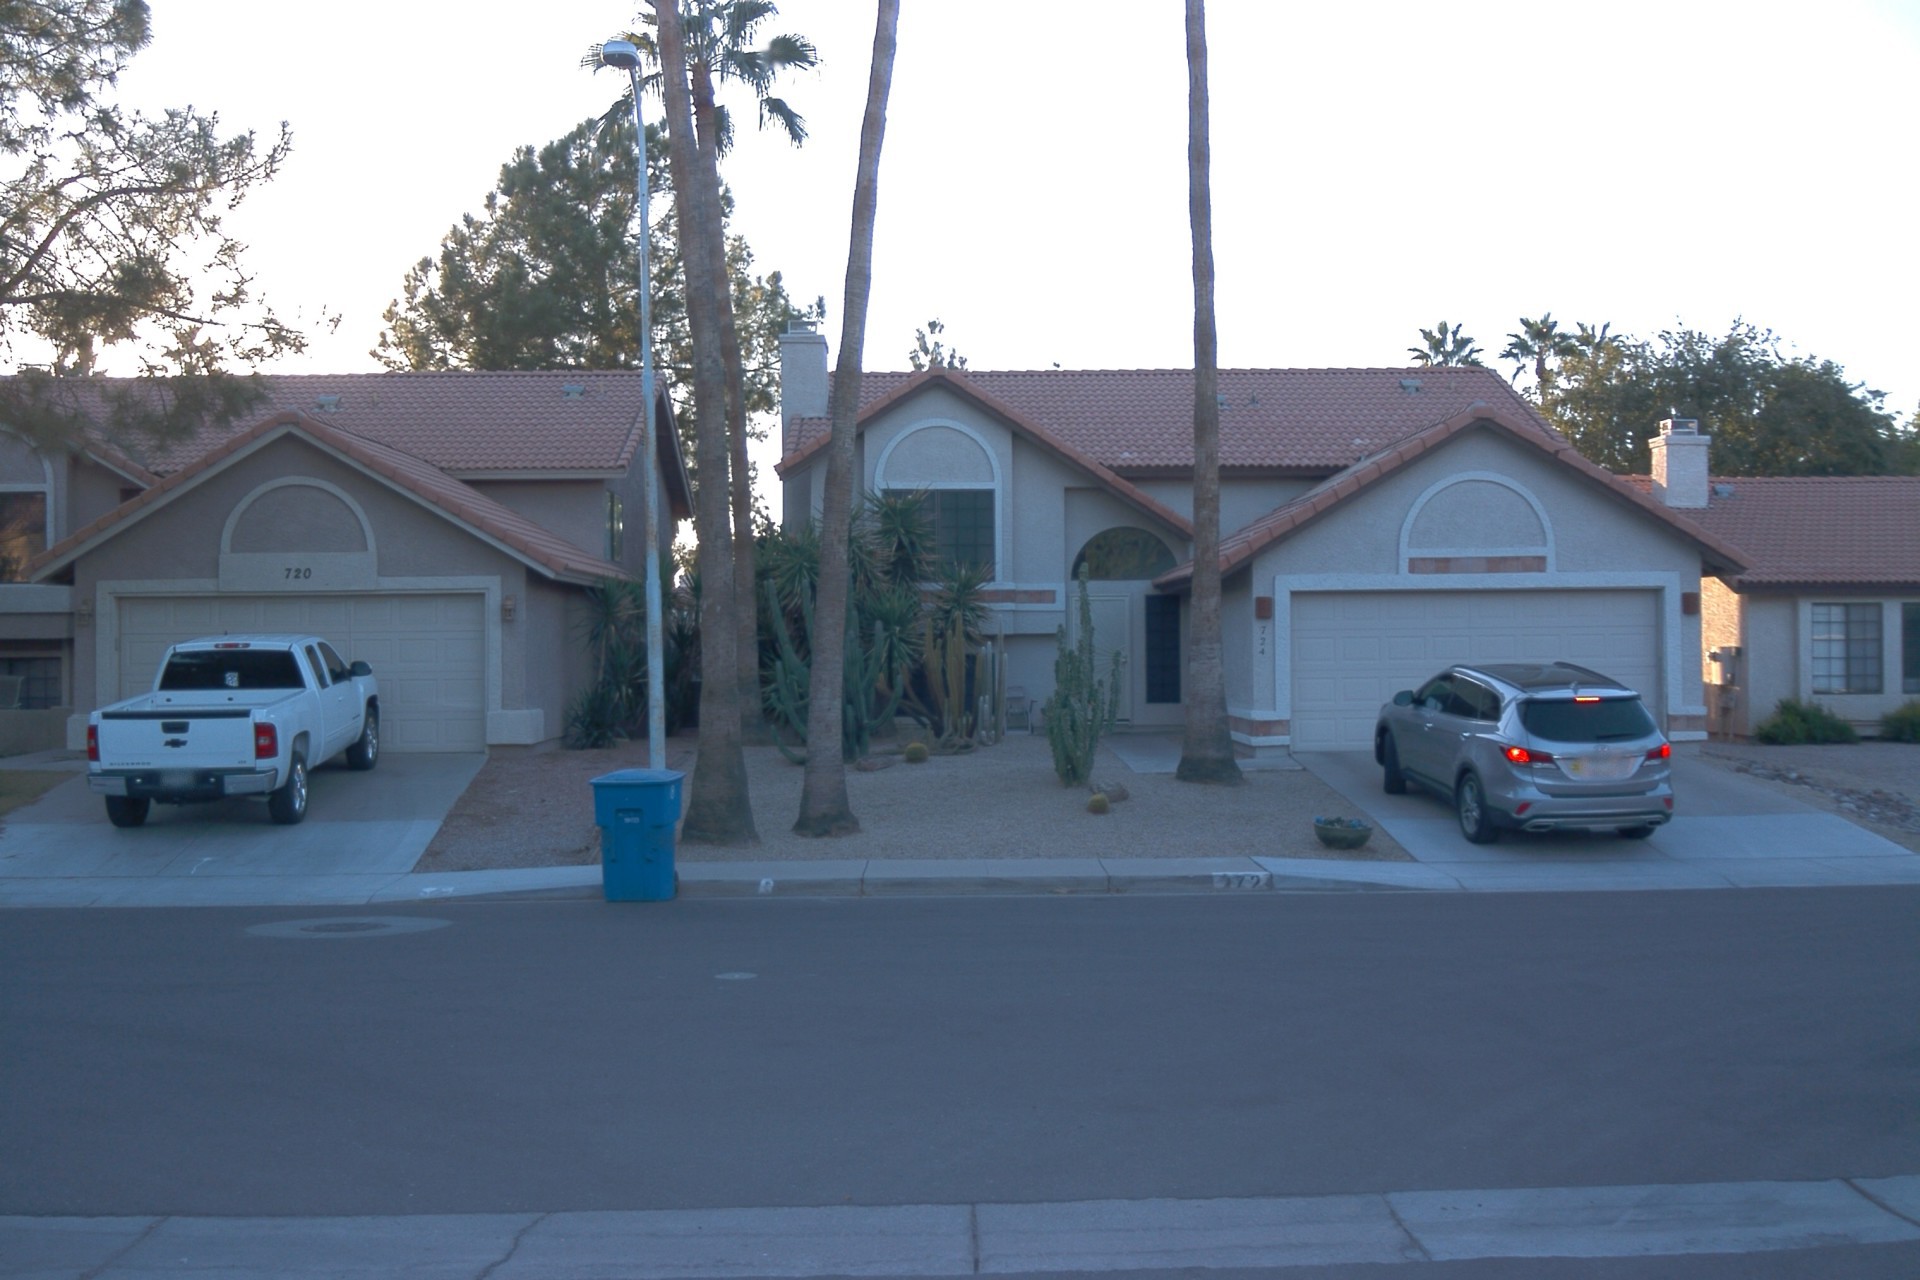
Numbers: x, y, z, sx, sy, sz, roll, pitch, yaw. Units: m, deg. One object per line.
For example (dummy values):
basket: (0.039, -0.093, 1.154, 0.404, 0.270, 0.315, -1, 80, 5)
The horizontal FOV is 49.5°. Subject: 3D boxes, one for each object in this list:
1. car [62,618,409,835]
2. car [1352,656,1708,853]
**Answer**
car: (-8.126, 0.932, 24.019, 2.325, 2.200, 5.595, 0, -1, -3)
car: (5.935, 1.142, 22.368, 2.108, 1.880, 4.731, 0, -1, -6)
